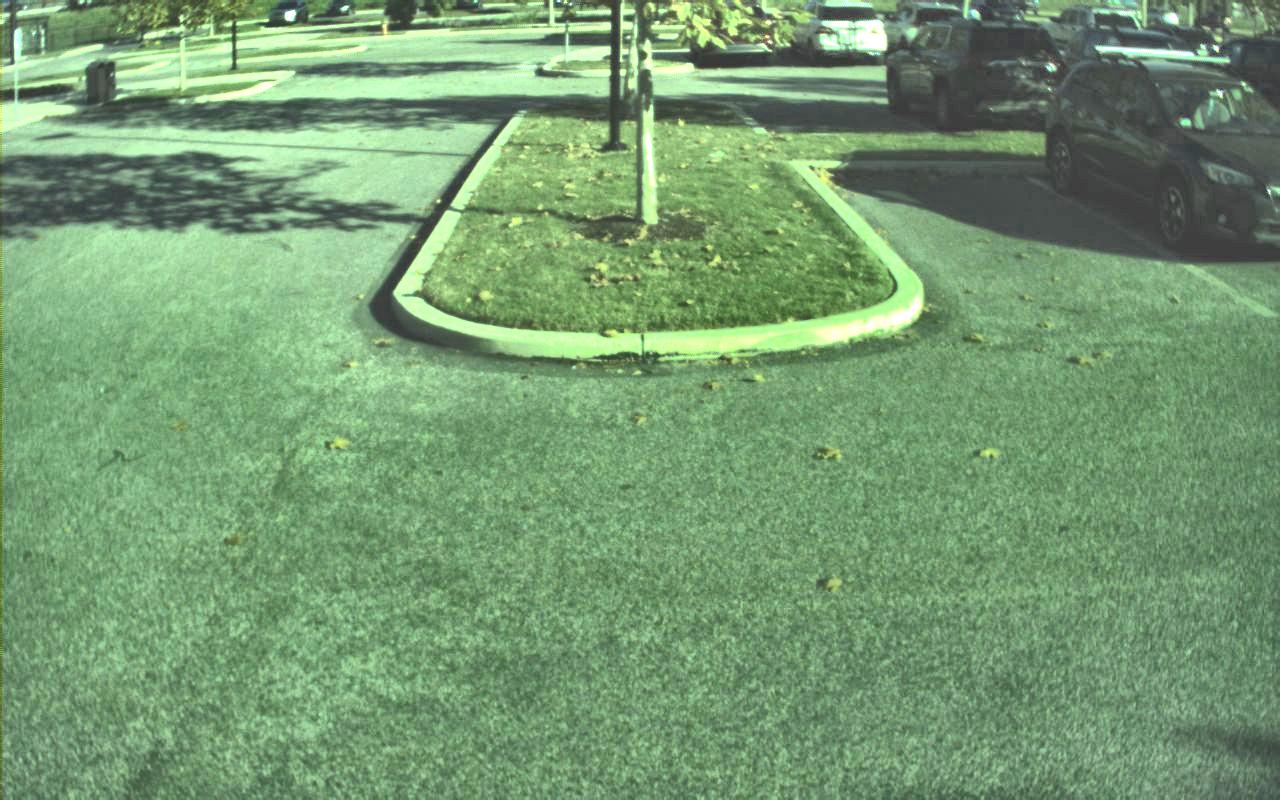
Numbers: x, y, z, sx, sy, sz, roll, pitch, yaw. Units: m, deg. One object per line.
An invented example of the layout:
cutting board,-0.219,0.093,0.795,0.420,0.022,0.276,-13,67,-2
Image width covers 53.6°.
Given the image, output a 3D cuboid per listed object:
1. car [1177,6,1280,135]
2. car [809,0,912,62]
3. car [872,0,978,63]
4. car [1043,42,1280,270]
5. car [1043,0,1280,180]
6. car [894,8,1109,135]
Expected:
car,10.883,-5.533,18.166,2.026,1.764,4.703,-3,17,-5
car,5.830,-10.026,32.499,2.033,1.826,4.713,-1,17,1
car,7.706,-10.175,32.884,2.026,1.812,4.664,-1,17,1
car,5.614,-2.521,11.144,1.954,1.677,4.589,-2,17,-3
car,7.339,-3.986,14.135,2.083,1.843,4.740,-9,18,-25
car,5.600,-5.291,18.958,2.022,1.744,4.785,-2,17,-3
